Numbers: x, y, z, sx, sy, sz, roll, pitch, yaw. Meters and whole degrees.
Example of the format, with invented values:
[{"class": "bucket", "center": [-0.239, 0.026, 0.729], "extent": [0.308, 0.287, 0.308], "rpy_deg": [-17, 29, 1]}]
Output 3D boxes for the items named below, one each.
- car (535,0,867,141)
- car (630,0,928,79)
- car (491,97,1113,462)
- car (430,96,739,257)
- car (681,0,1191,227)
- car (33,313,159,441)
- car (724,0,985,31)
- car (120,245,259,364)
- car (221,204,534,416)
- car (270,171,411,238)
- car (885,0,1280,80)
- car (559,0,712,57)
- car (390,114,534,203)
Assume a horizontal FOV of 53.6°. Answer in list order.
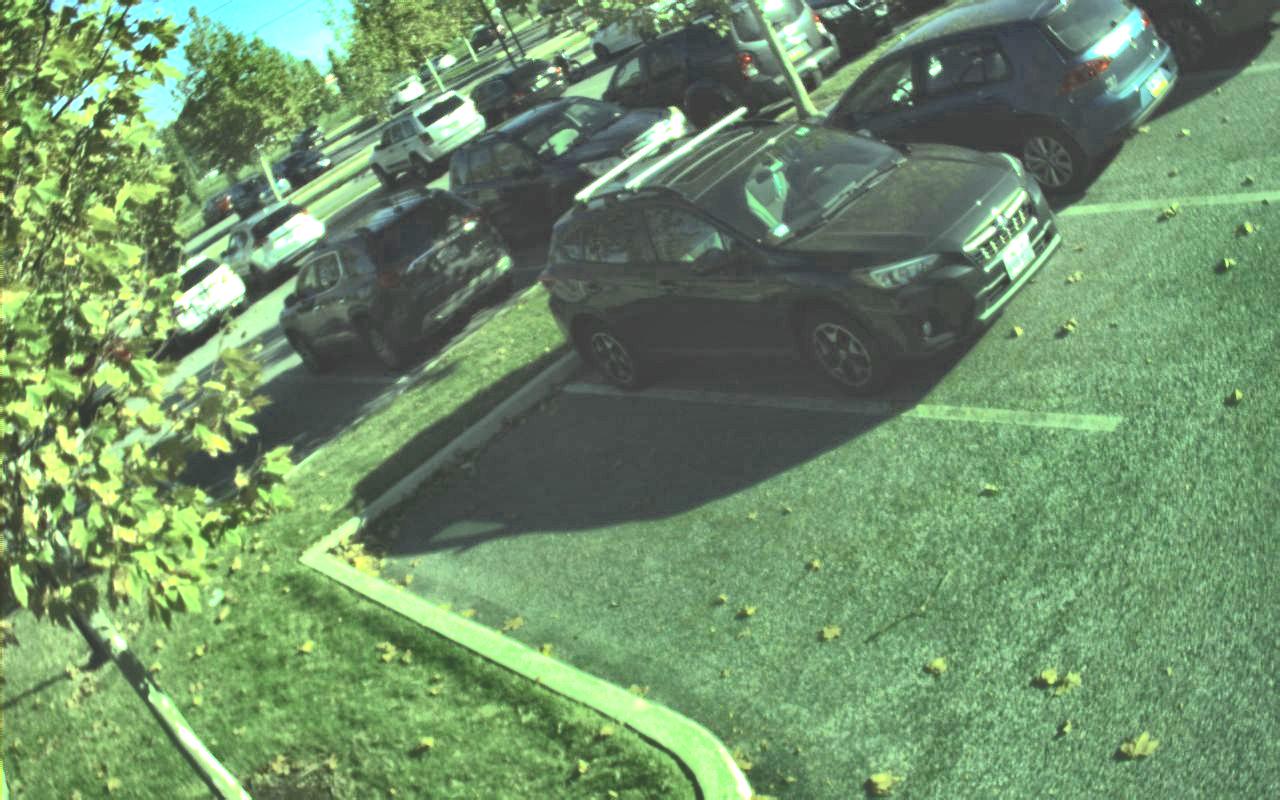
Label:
[{"class": "car", "center": [0.766, -4.778, 17.641], "extent": [2.041, 1.779, 4.654], "rpy_deg": [-16, 22, -41]}, {"class": "car", "center": [2.174, -6.016, 19.519], "extent": [4.472, 1.639, 1.975], "rpy_deg": [13, 21, 39]}, {"class": "car", "center": [0.972, -1.195, 9.180], "extent": [2.001, 1.773, 4.595], "rpy_deg": [-13, 20, -35]}, {"class": "car", "center": [-0.905, -3.161, 16.879], "extent": [1.987, 1.646, 4.528], "rpy_deg": [-13, 20, -35]}, {"class": "car", "center": [2.502, -2.656, 10.478], "extent": [1.911, 1.648, 4.257], "rpy_deg": [-15, 21, -39]}, {"class": "car", "center": [-12.725, -0.568, 26.722], "extent": [2.010, 1.717, 4.555], "rpy_deg": [-13, 20, -35]}, {"class": "car", "center": [3.712, -7.310, 21.105], "extent": [1.948, 1.576, 4.415], "rpy_deg": [-15, 21, -39]}, {"class": "car", "center": [-10.811, -2.327, 28.160], "extent": [2.043, 1.822, 4.671], "rpy_deg": [-13, 20, -36]}, {"class": "car", "center": [-3.614, -1.352, 16.056], "extent": [2.046, 1.731, 4.740], "rpy_deg": [-14, 21, -39]}, {"class": "car", "center": [-10.454, -6.812, 42.660], "extent": [4.582, 1.632, 1.983], "rpy_deg": [-13, 20, -34]}, {"class": "car", "center": [4.723, -4.181, 11.428], "extent": [1.972, 1.597, 4.556], "rpy_deg": [-12, 20, -33]}, {"class": "car", "center": [-0.221, -10.913, 35.956], "extent": [2.021, 1.719, 4.676], "rpy_deg": [-14, 21, -37]}, {"class": "car", "center": [-4.742, -6.356, 32.198], "extent": [2.056, 1.818, 4.717], "rpy_deg": [-11, 19, -29]}]
